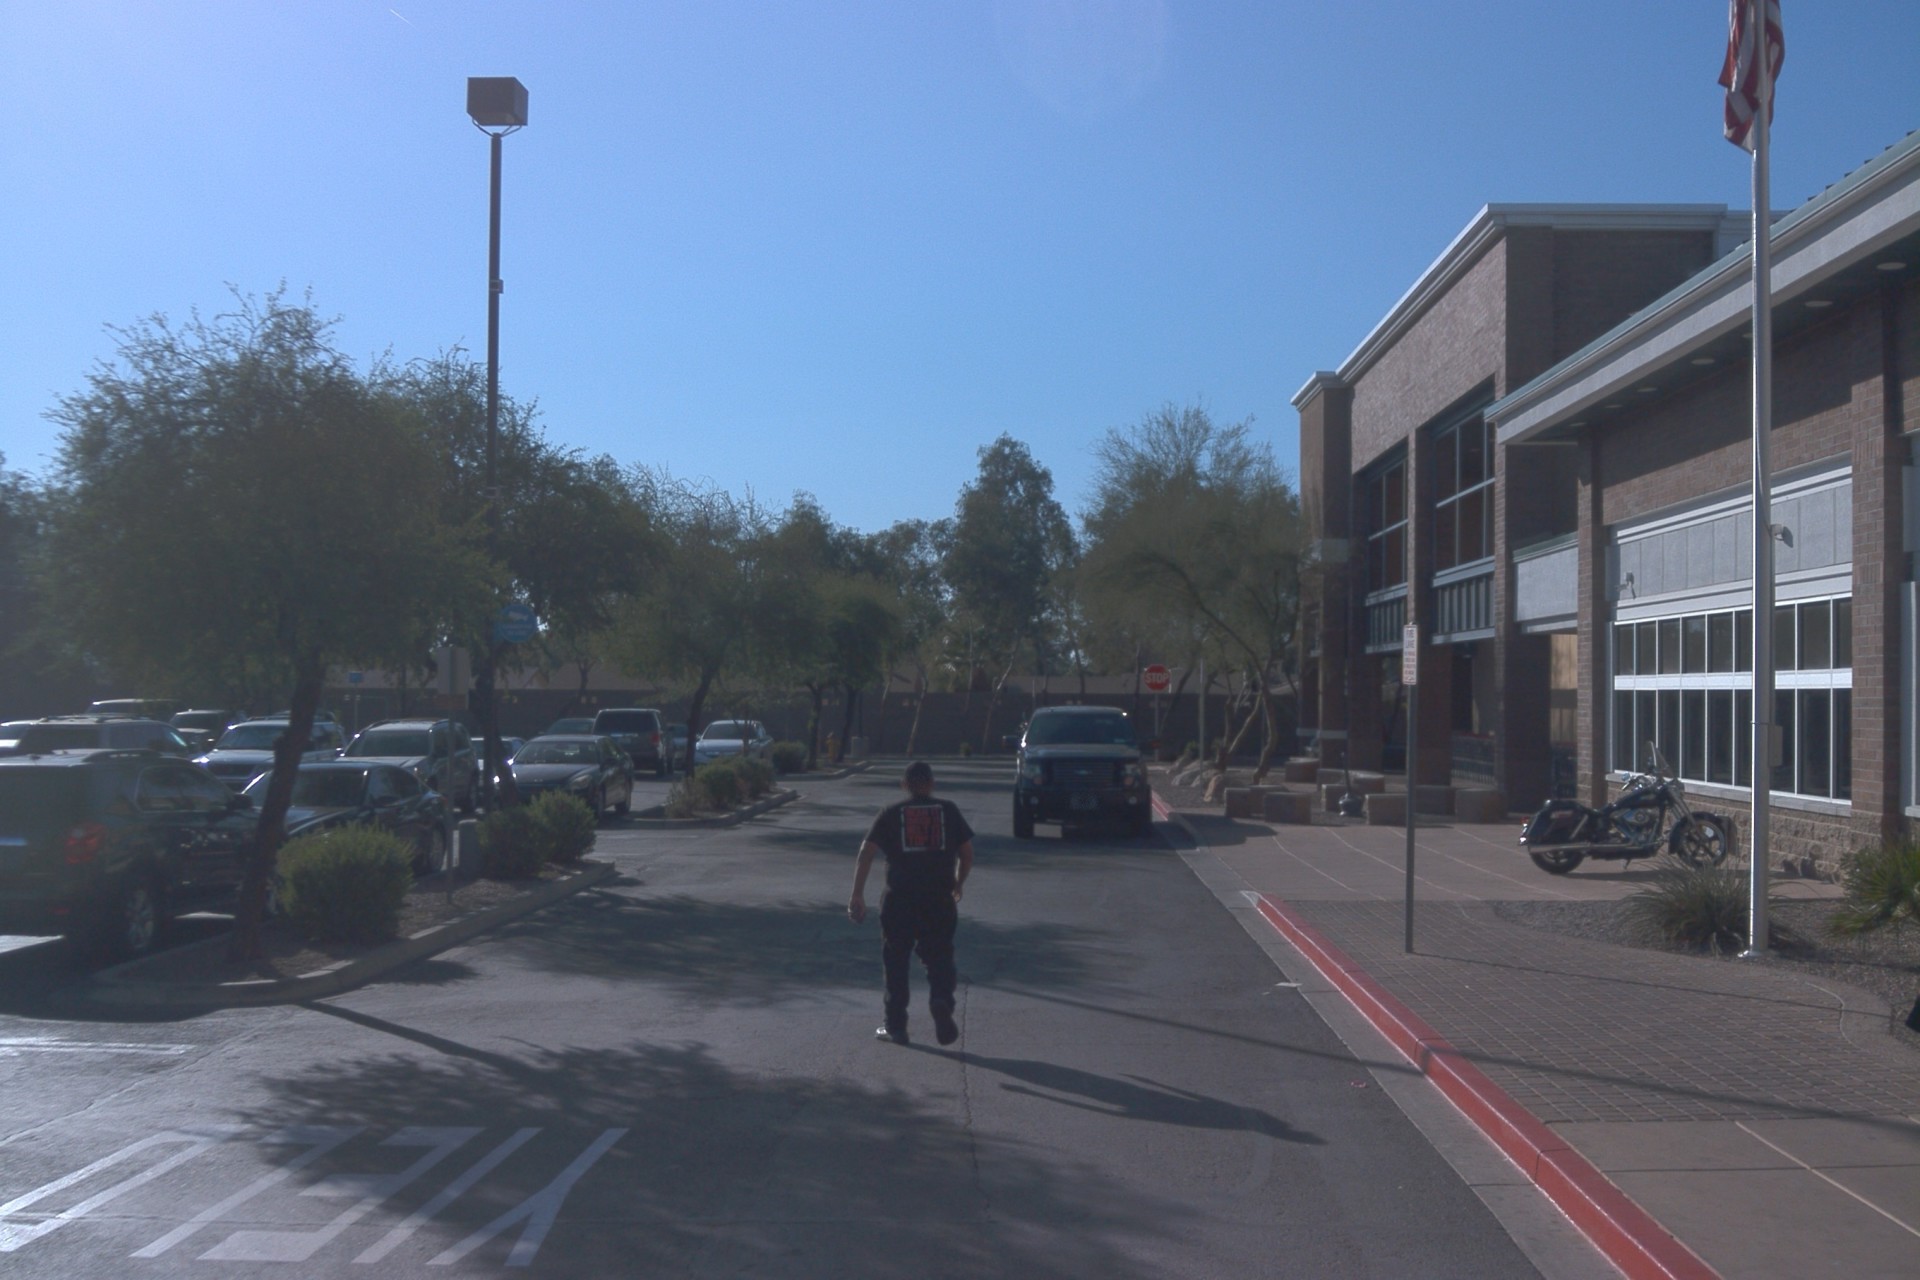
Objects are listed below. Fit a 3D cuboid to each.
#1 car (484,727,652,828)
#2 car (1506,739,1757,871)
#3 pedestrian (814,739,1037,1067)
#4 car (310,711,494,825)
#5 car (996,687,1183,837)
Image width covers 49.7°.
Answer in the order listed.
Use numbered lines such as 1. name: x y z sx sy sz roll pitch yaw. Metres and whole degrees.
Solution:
1. car: -6.809 2.358 36.536 1.931 1.560 4.779 -1 -1 2
2. car: 7.570 1.858 23.503 2.509 1.430 1.043 -1 -1 5
3. pedestrian: -0.239 1.564 12.806 1.073 1.870 1.186 0 -1 -17
4. car: -9.739 2.196 36.573 1.886 1.820 4.571 -1 -1 2
5. car: 1.948 1.863 33.383 2.654 2.190 5.666 -1 -1 0
